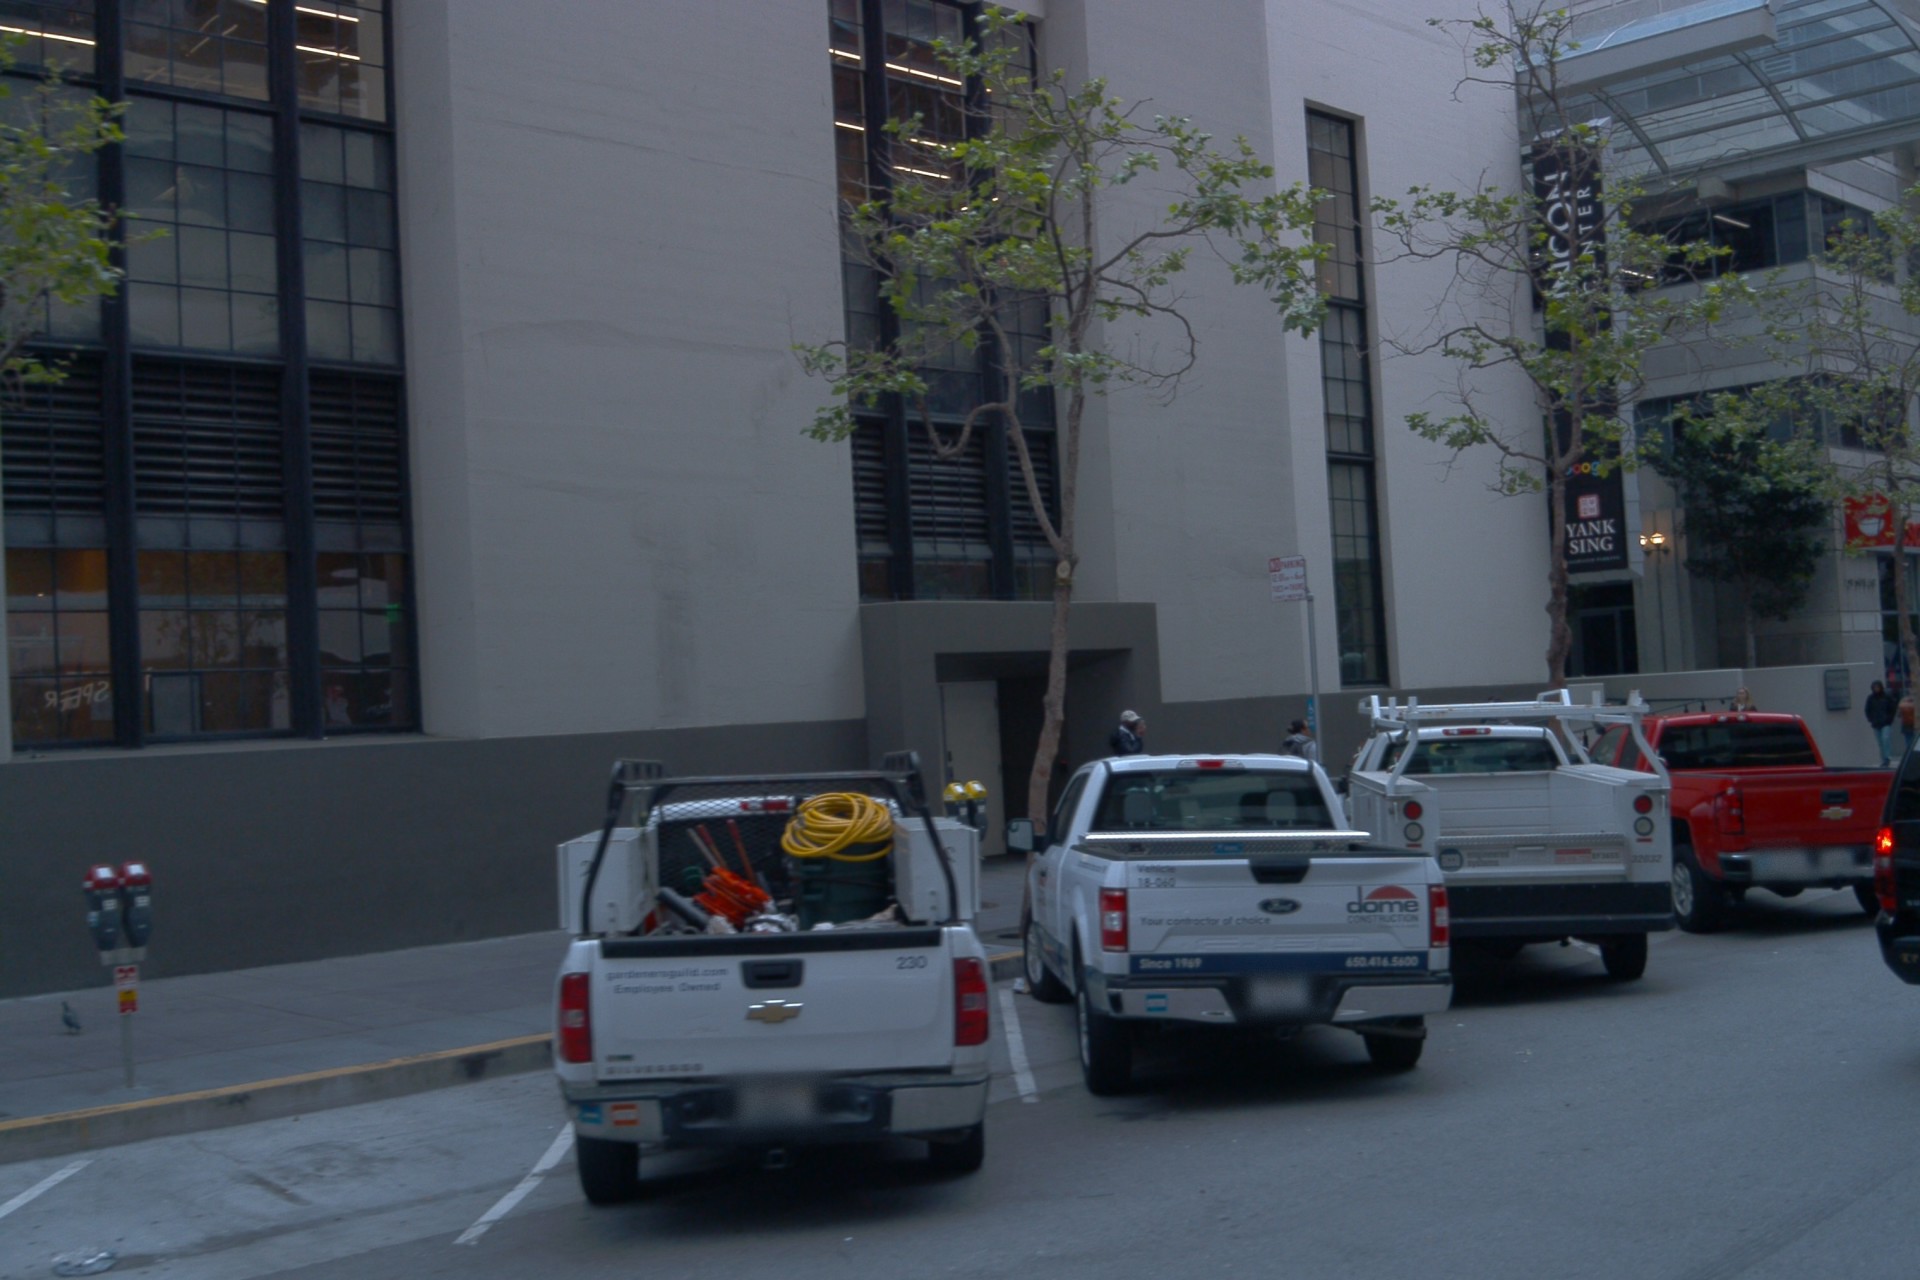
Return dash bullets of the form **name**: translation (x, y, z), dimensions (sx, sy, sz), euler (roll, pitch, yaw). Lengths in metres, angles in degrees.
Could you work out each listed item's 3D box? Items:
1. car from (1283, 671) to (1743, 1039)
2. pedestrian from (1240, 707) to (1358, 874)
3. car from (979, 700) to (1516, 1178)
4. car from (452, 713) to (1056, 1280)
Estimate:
- **car**: translation (4.227, 1.513, 17.003), dimensions (2.659, 2.344, 5.688), euler (0, 1, 4)
- **pedestrian**: translation (3.833, 1.676, 23.354), dimensions (1.001, 1.774, 0.891), euler (-1, 1, -43)
- **car**: translation (1.520, 1.624, 13.644), dimensions (2.511, 2.200, 5.966), euler (0, 1, -2)
- **car**: translation (-1.094, 1.642, 11.277), dimensions (2.460, 2.200, 5.628), euler (0, 1, -5)
